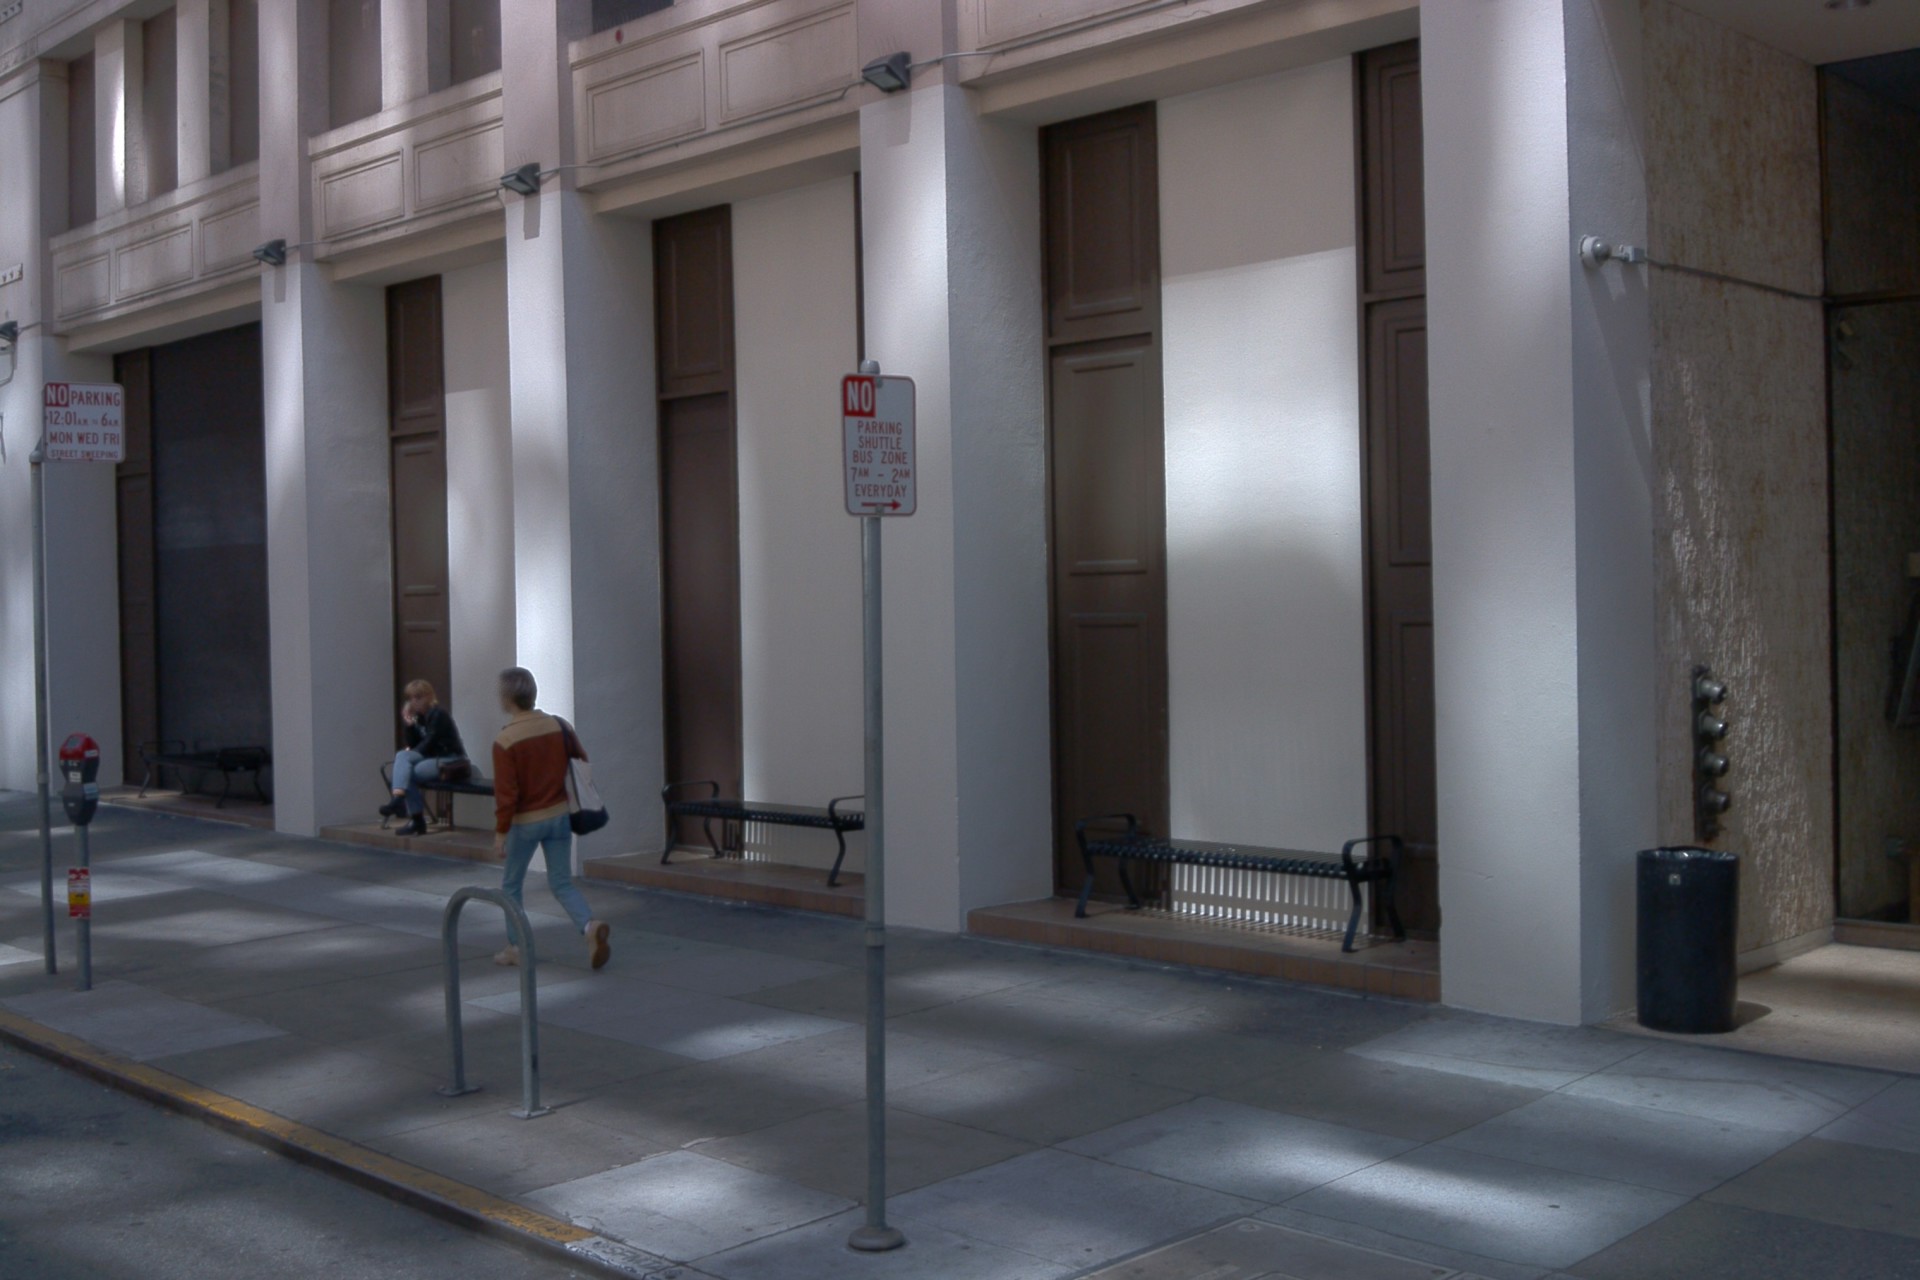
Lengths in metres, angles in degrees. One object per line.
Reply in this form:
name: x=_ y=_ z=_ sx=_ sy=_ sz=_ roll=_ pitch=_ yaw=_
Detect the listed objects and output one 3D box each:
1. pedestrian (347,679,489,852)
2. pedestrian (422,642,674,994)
pedestrian: x=-4.400 y=0.998 z=16.706 sx=0.902 sy=1.330 sz=0.662 roll=0 pitch=0 yaw=-44
pedestrian: x=-2.322 y=0.940 z=11.566 sx=1.146 sy=1.846 sz=0.893 roll=0 pitch=0 yaw=45
